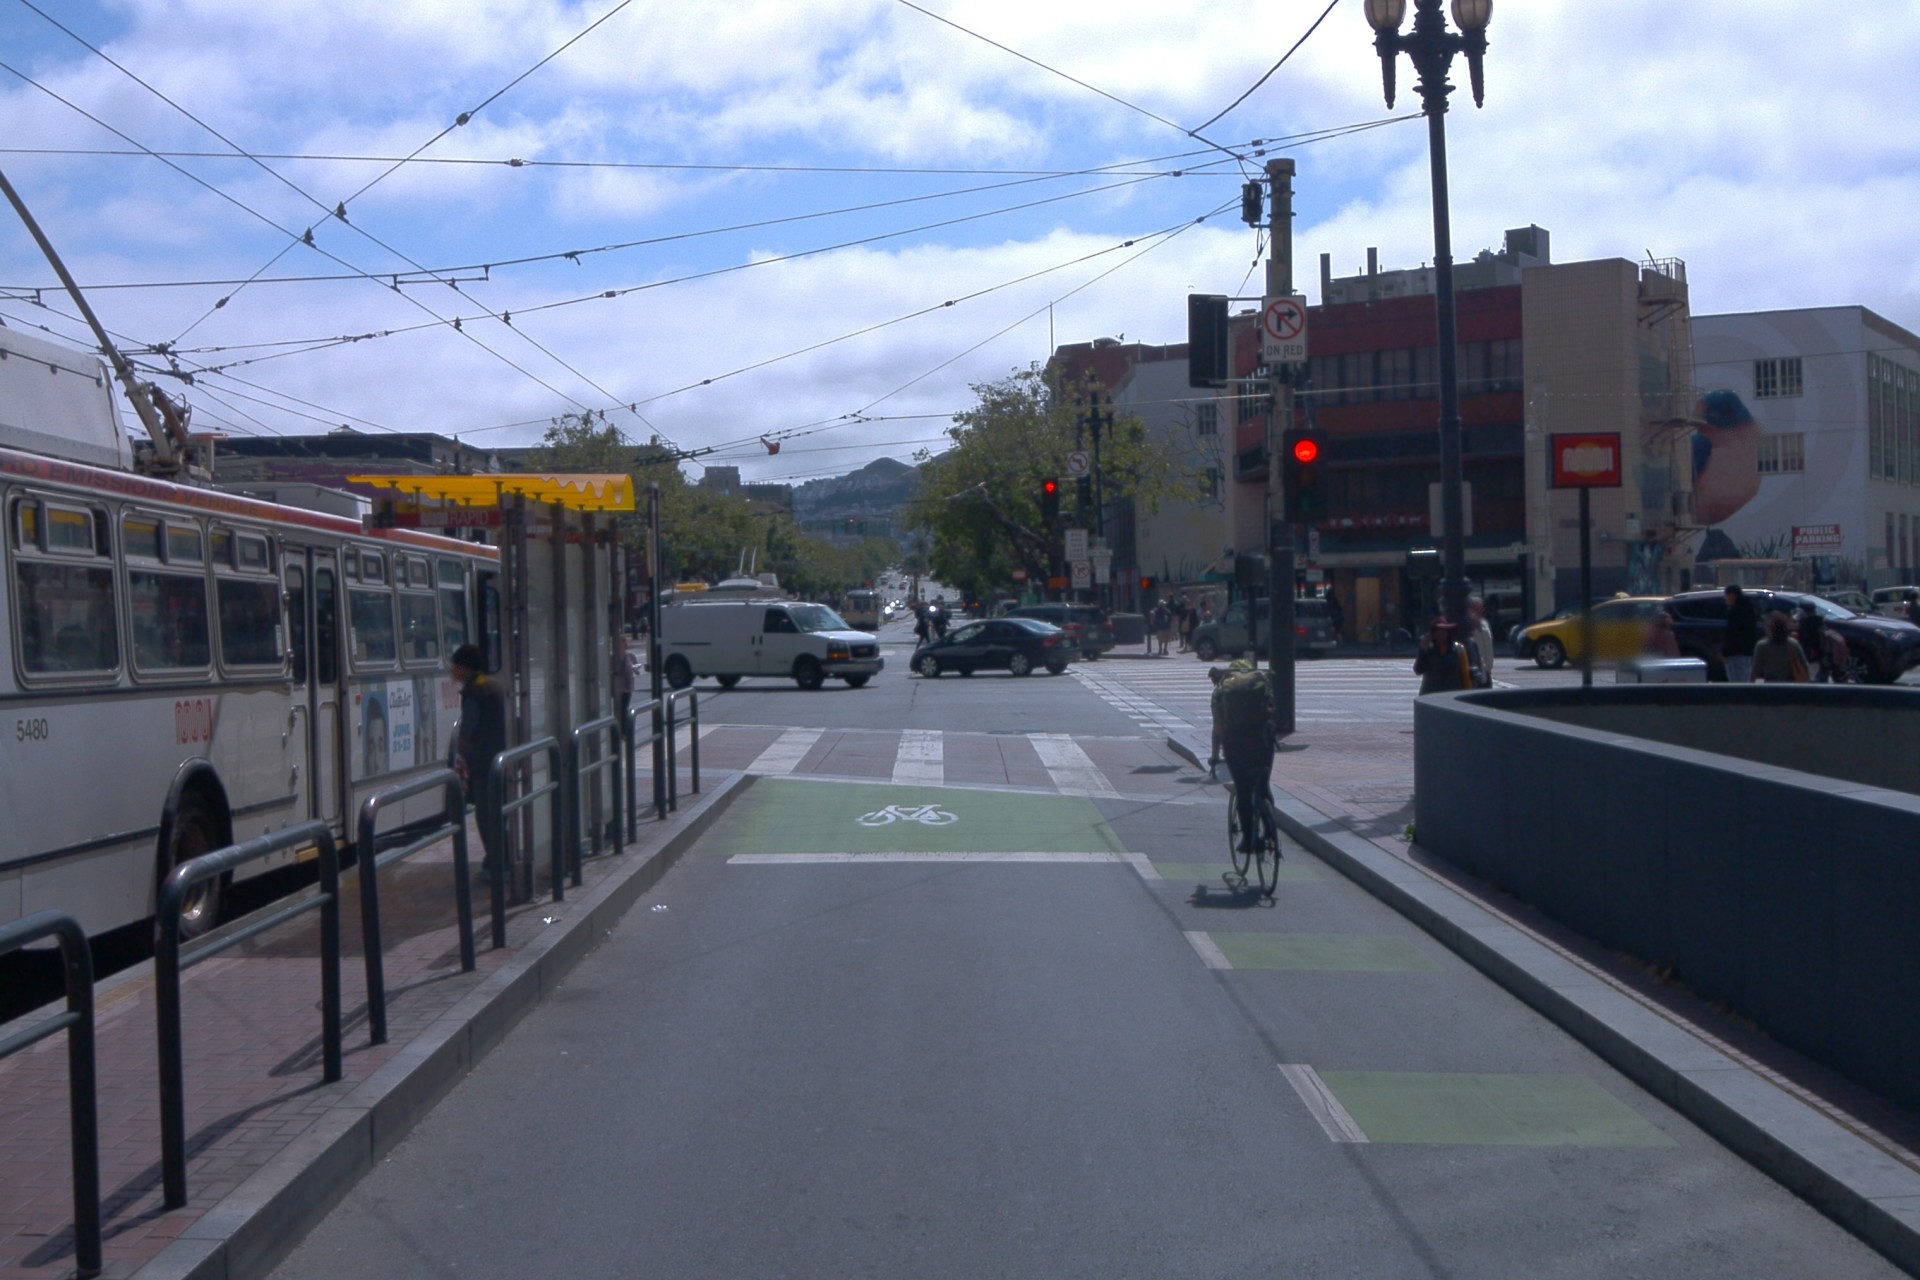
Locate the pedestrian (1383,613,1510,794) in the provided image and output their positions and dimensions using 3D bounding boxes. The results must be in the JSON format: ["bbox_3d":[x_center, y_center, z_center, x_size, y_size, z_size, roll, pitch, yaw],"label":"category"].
[{"bbox_3d":[4.809,0.612,20.370,1.045,1.750,0.818,0,1,-1],"label":"pedestrian"}]

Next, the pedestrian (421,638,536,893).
[{"bbox_3d":[-3.262,0.833,13.967,0.667,1.680,0.622,0,1,-4],"label":"pedestrian"}]

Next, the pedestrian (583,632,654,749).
[{"bbox_3d":[-5.184,0.750,31.159,0.794,1.720,0.941,-1,1,-27],"label":"pedestrian"}]

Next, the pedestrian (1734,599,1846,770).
[{"bbox_3d":[8.618,0.446,21.366,0.756,1.740,0.858,0,1,-7],"label":"pedestrian"}]

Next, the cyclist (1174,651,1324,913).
[{"bbox_3d":[2.090,0.985,15.080,0.806,1.770,1.802,0,1,-1],"label":"cyclist"}]

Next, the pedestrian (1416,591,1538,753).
[{"bbox_3d":[6.451,0.376,25.670,1.082,1.960,1.060,-1,1,-43],"label":"pedestrian"}]
